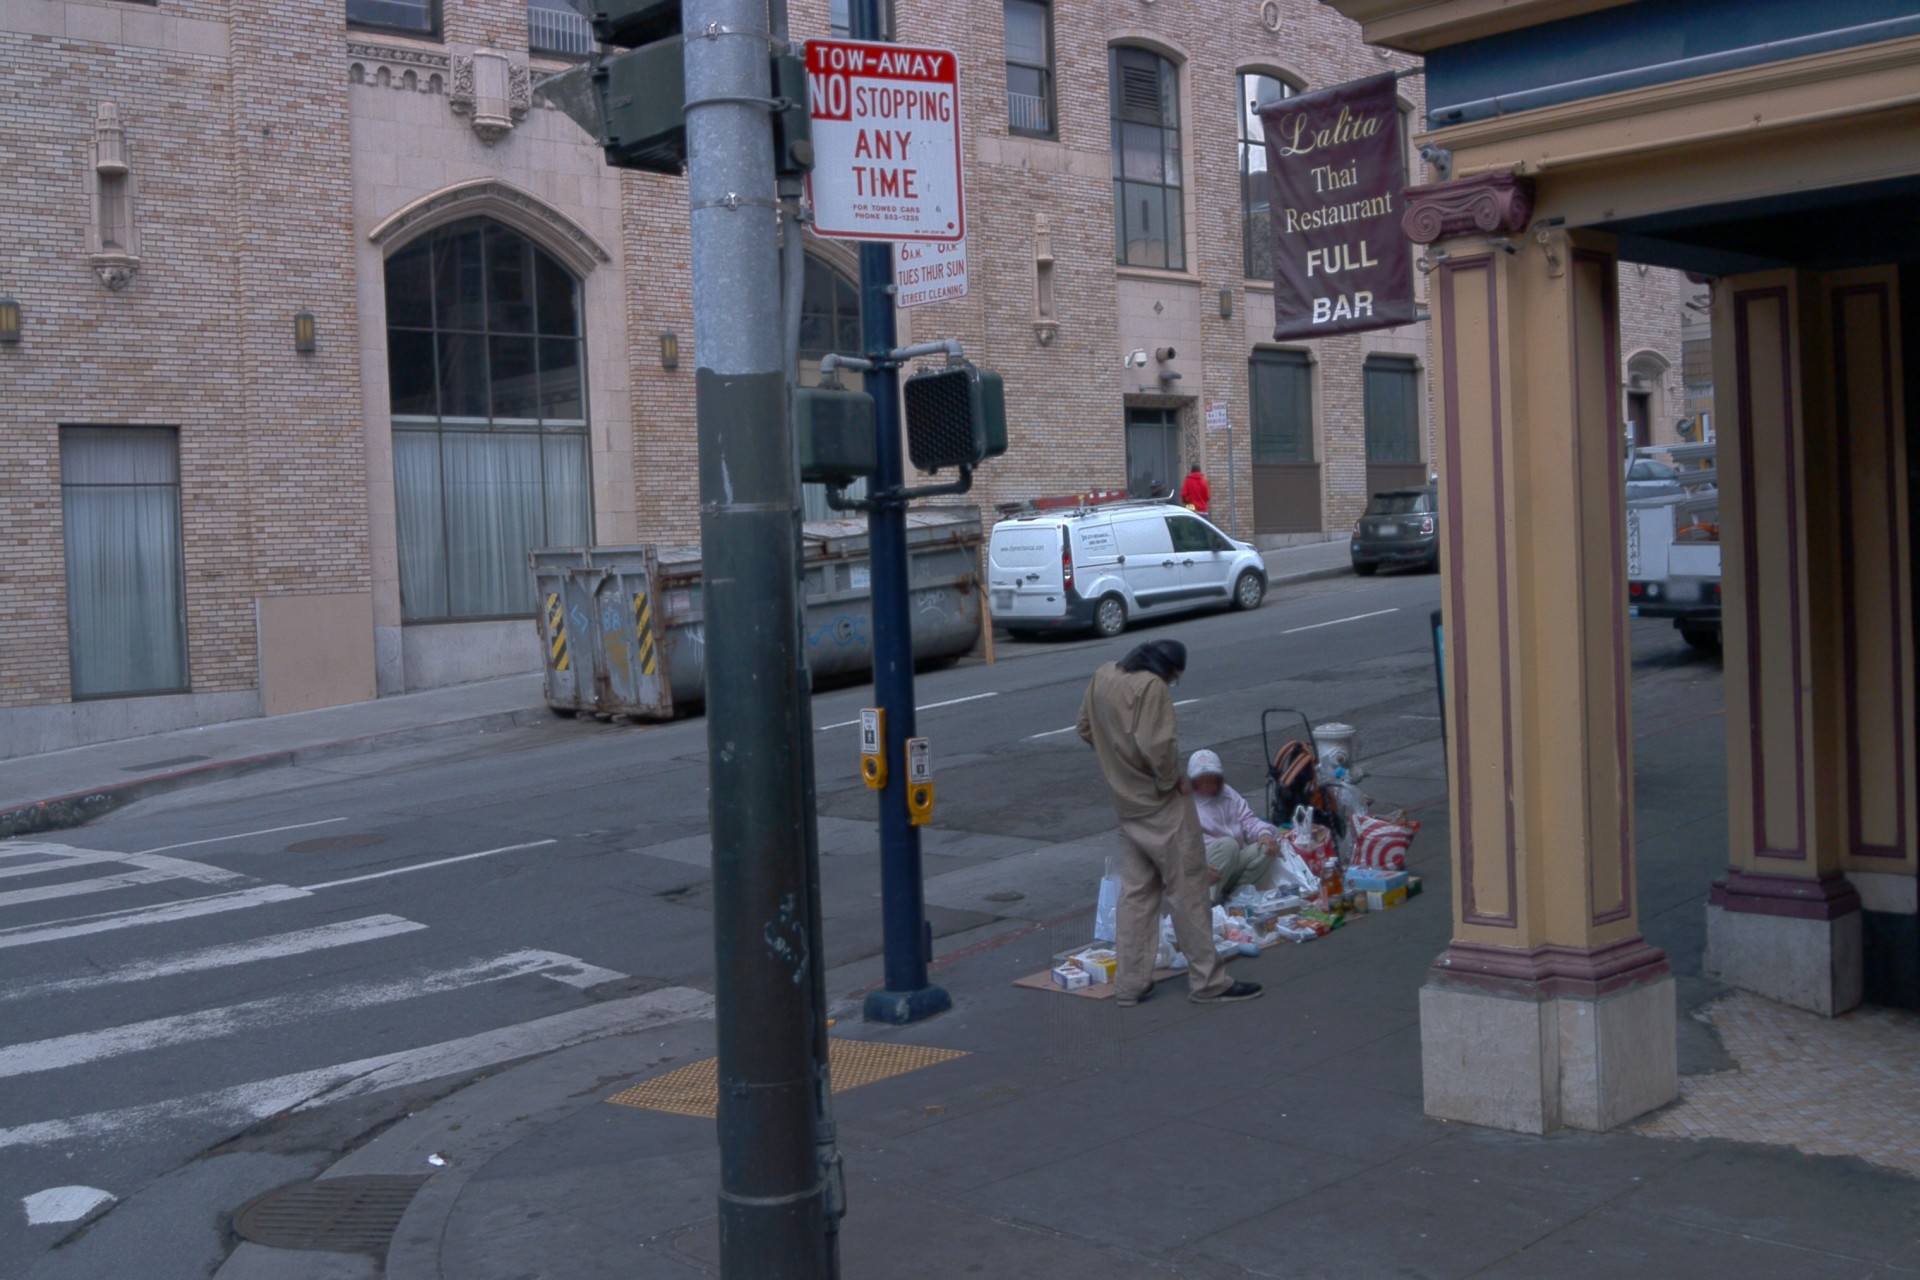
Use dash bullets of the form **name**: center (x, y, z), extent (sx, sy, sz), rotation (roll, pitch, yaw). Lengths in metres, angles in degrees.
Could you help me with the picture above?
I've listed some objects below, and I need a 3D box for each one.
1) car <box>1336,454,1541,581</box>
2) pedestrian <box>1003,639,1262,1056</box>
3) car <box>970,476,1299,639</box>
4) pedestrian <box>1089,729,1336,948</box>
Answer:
- **car**: center (8.173, -2.022, 34.978), extent (1.744, 1.980, 3.738), rotation (0, 1, 43)
- **pedestrian**: center (0.754, 0.837, 8.838), extent (0.888, 1.670, 0.837), rotation (0, 0, 24)
- **car**: center (2.591, -1.124, 29.692), extent (4.848, 2.170, 2.020), rotation (-1, 1, -44)
- **pedestrian**: center (1.265, 0.964, 10.335), extent (0.871, 0.970, 0.870), rotation (0, 0, -41)
